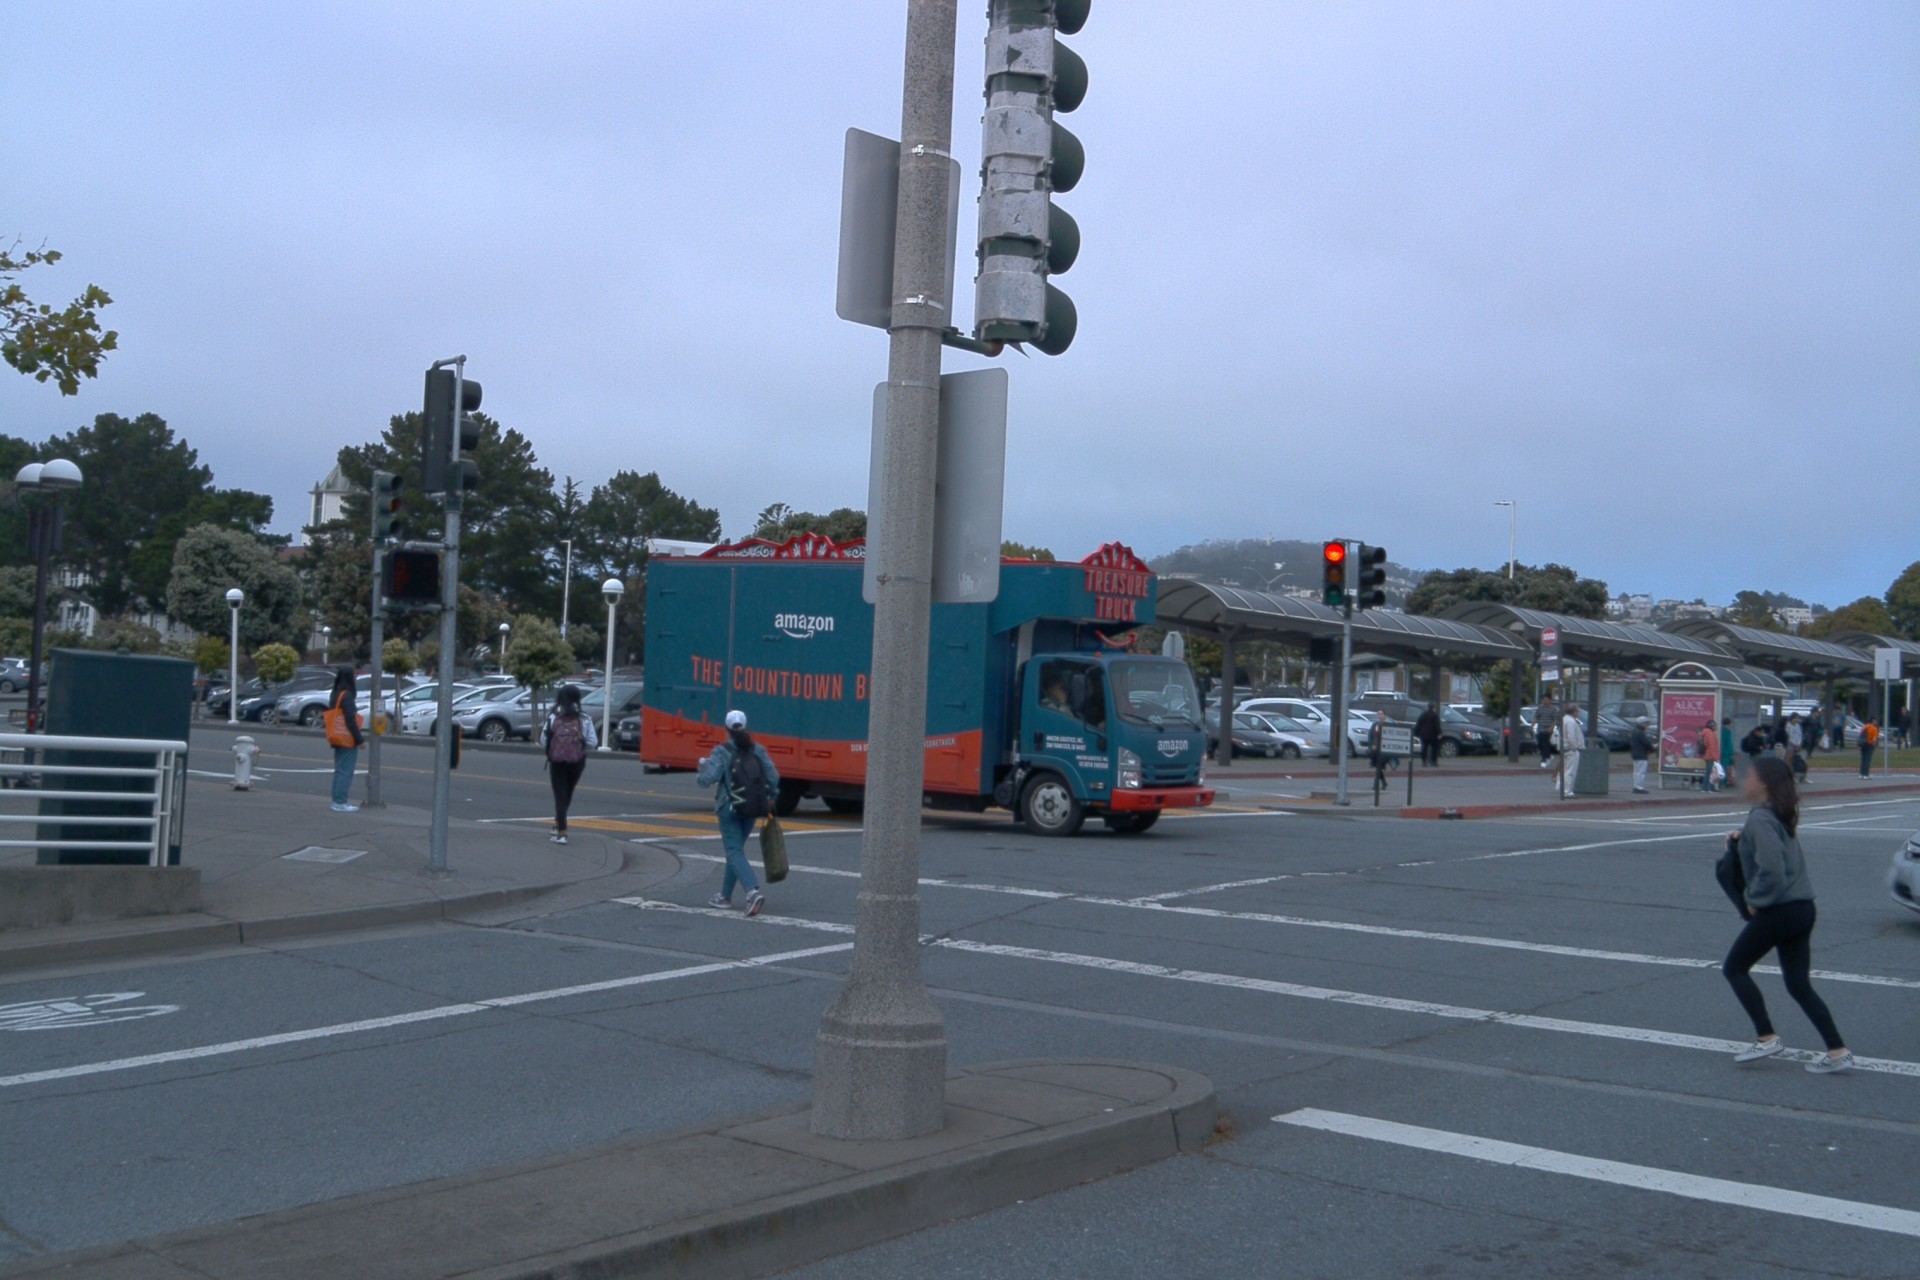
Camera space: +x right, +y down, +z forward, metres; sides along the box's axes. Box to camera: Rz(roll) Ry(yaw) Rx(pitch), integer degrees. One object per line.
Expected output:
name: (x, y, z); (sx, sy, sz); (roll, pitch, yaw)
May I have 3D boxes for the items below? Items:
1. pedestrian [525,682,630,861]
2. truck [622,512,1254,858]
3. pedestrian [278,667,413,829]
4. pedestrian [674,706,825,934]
pedestrian: (-3.736, 1.268, 20.233); (0.911, 1.670, 0.999); (0, 1, -5)
truck: (-0.461, 0.456, 26.486); (7.898, 3.840, 3.004); (0, 1, 37)
pedestrian: (-6.765, 1.165, 22.745); (0.921, 1.690, 1.085); (0, 1, 38)
pedestrian: (-1.649, 1.370, 16.093); (0.763, 1.650, 1.009); (-1, 1, -35)
